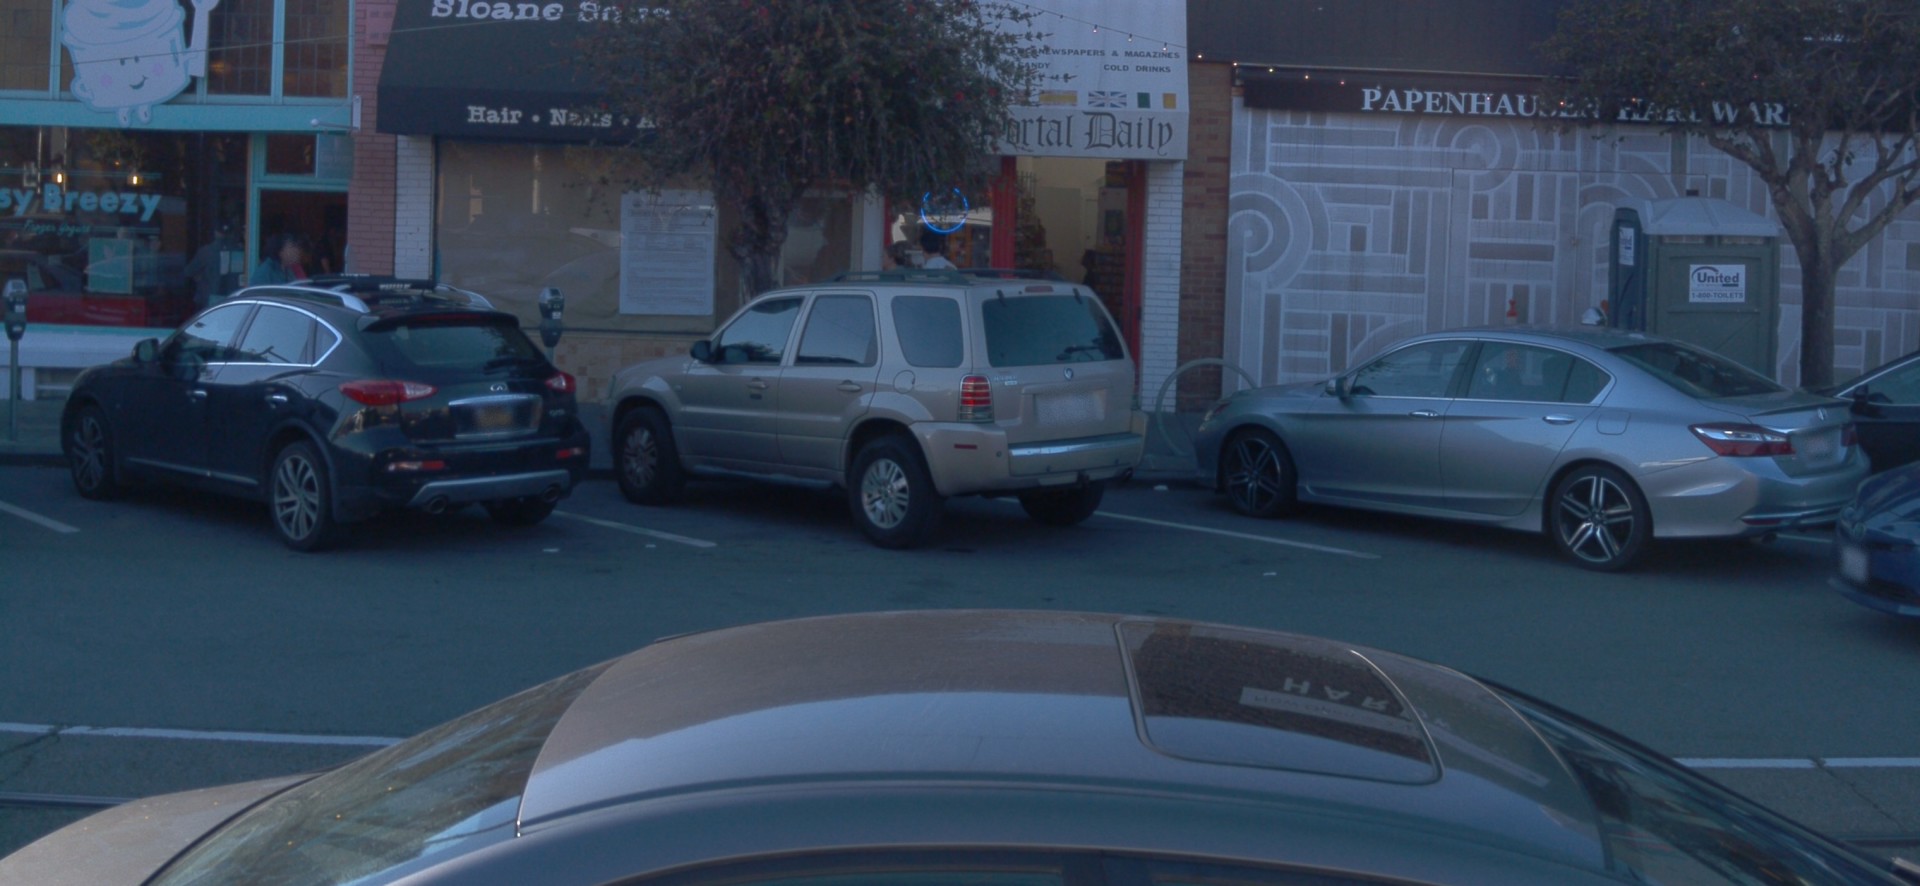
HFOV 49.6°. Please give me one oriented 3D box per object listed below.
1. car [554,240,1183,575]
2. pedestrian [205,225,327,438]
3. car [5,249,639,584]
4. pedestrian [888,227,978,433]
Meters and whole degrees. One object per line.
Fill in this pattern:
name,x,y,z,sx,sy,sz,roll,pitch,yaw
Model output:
car,-0.759,-0.427,14.554,2.078,1.892,4.243,-3,7,-45
pedestrian,-5.889,-0.968,17.656,0.724,1.757,0.810,1,2,2
car,-4.471,-0.362,14.184,4.524,1.793,2.116,6,7,42
pedestrian,-0.238,-1.056,18.987,0.730,1.816,0.924,1,2,3
